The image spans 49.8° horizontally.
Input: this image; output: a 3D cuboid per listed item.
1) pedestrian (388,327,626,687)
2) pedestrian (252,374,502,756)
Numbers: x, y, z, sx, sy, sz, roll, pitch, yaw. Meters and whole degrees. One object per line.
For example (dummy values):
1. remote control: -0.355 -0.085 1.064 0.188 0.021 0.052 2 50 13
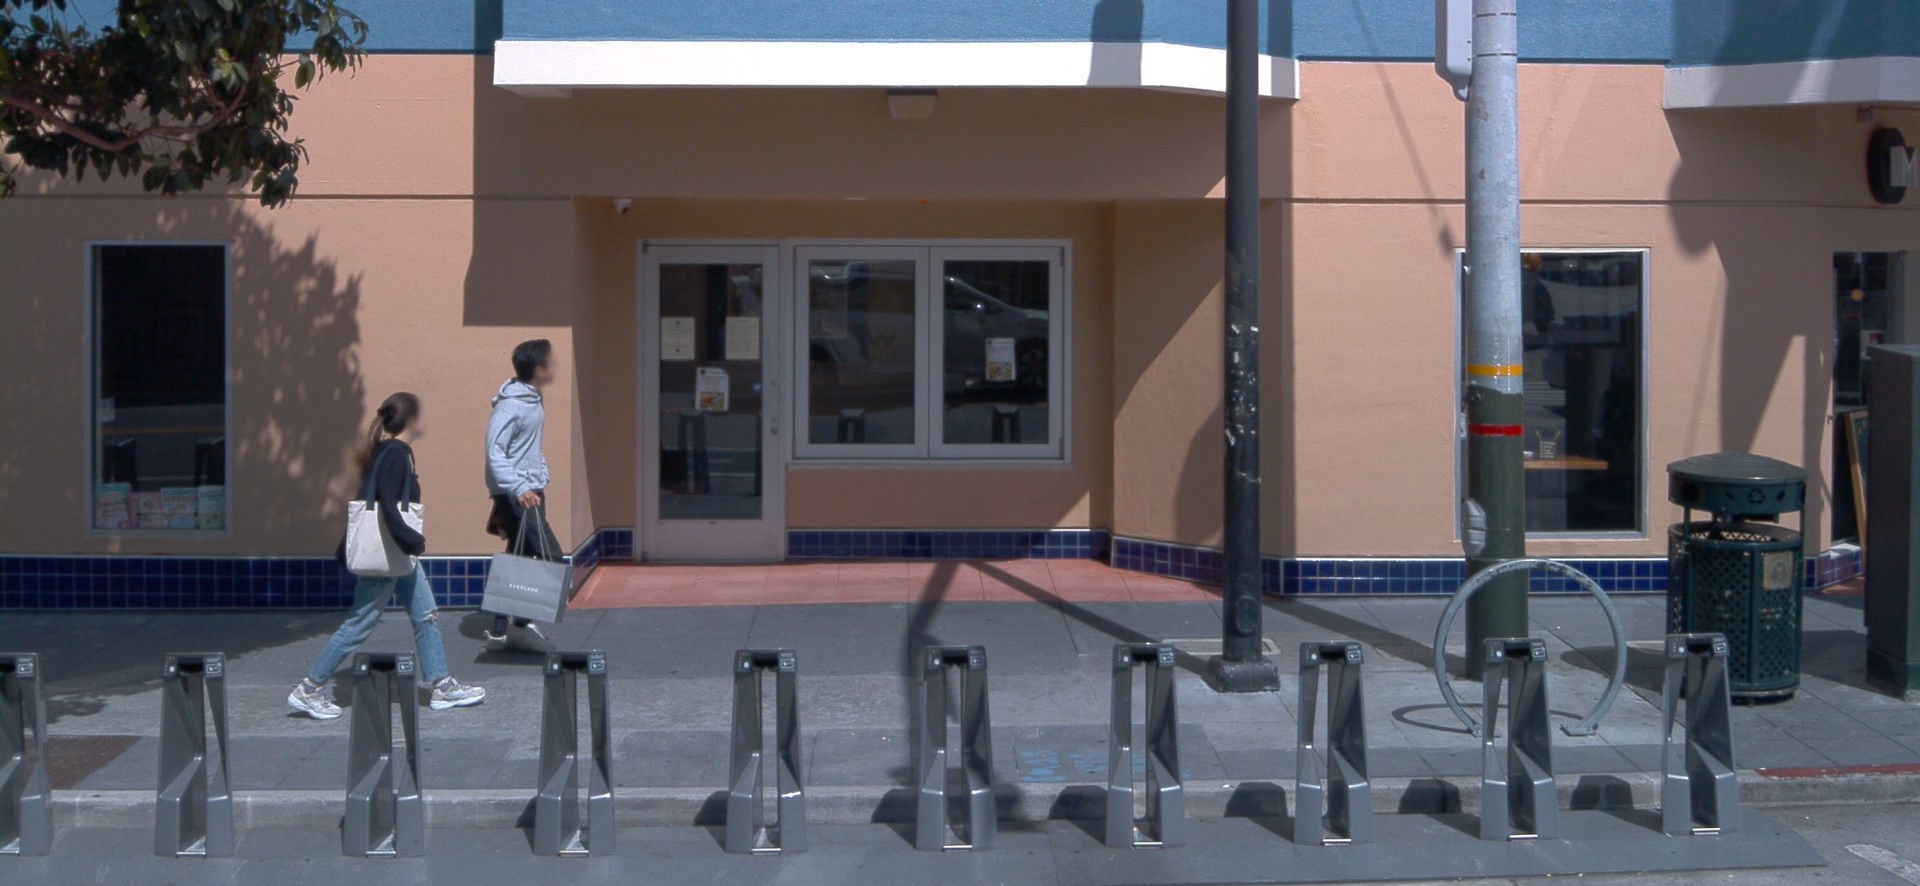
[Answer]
1. pedestrian: -2.447 0.312 11.290 1.038 1.826 0.953 0 2 2
2. pedestrian: -2.803 0.548 10.046 1.038 1.676 0.886 -1 2 -8
